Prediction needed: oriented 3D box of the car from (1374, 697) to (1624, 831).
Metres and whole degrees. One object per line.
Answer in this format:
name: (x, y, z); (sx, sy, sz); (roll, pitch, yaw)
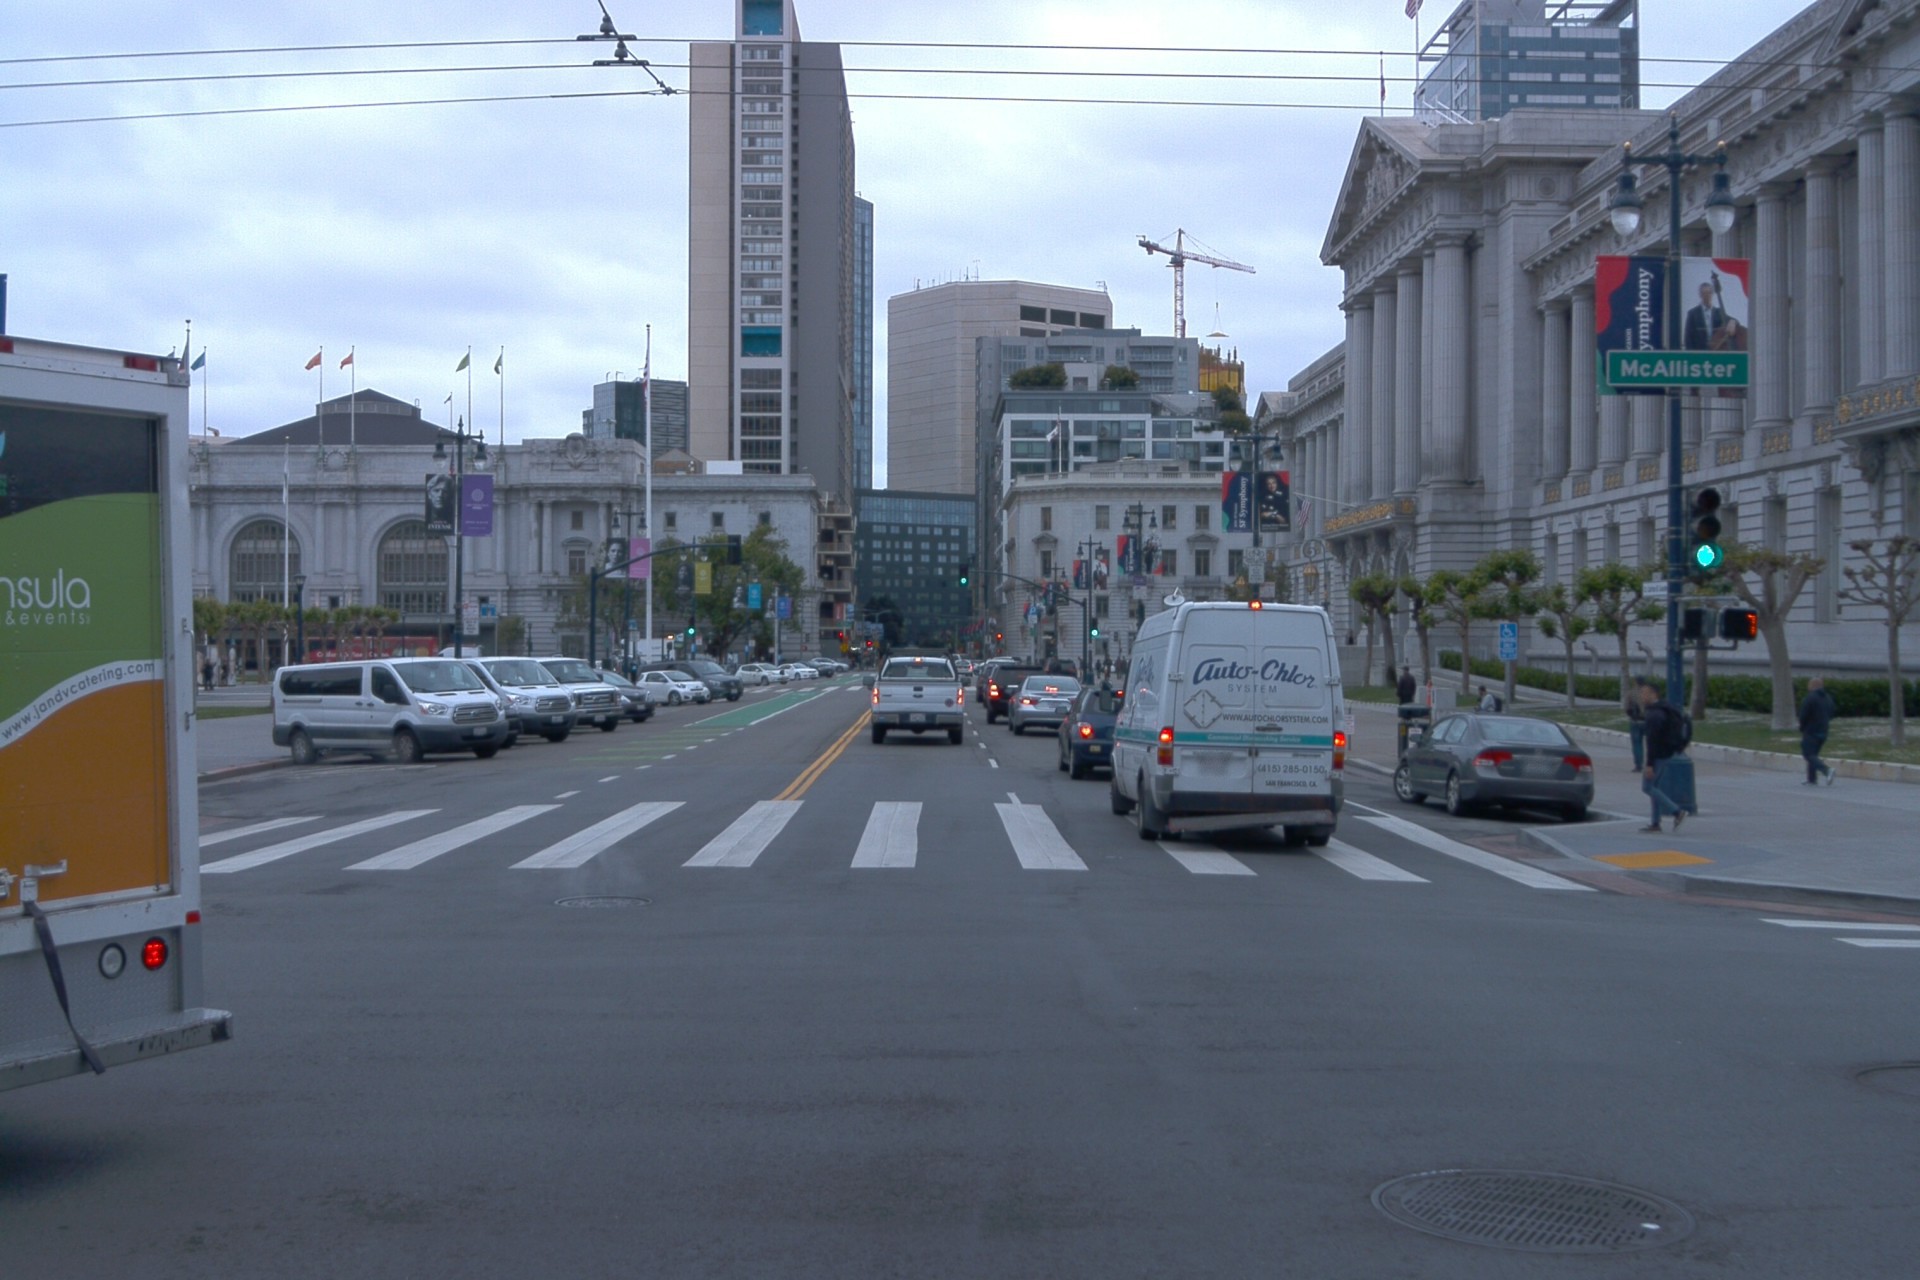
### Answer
car: (7.433, 1.669, 28.851); (2.033, 1.512, 4.560); (0, 1, -4)

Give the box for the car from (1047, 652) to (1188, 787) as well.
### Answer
car: (2.513, 1.237, 33.648); (1.934, 1.990, 4.032); (0, 1, -1)

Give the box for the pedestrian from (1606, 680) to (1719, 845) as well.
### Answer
pedestrian: (7.859, 1.348, 22.999); (0.939, 1.760, 0.827); (1, 1, 44)

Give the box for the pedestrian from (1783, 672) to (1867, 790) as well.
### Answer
pedestrian: (13.363, 1.388, 31.772); (0.757, 1.757, 0.920); (-1, 1, -30)

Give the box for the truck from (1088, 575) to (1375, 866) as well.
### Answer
truck: (2.869, 0.740, 23.328); (2.404, 2.850, 6.221); (0, 1, 0)
